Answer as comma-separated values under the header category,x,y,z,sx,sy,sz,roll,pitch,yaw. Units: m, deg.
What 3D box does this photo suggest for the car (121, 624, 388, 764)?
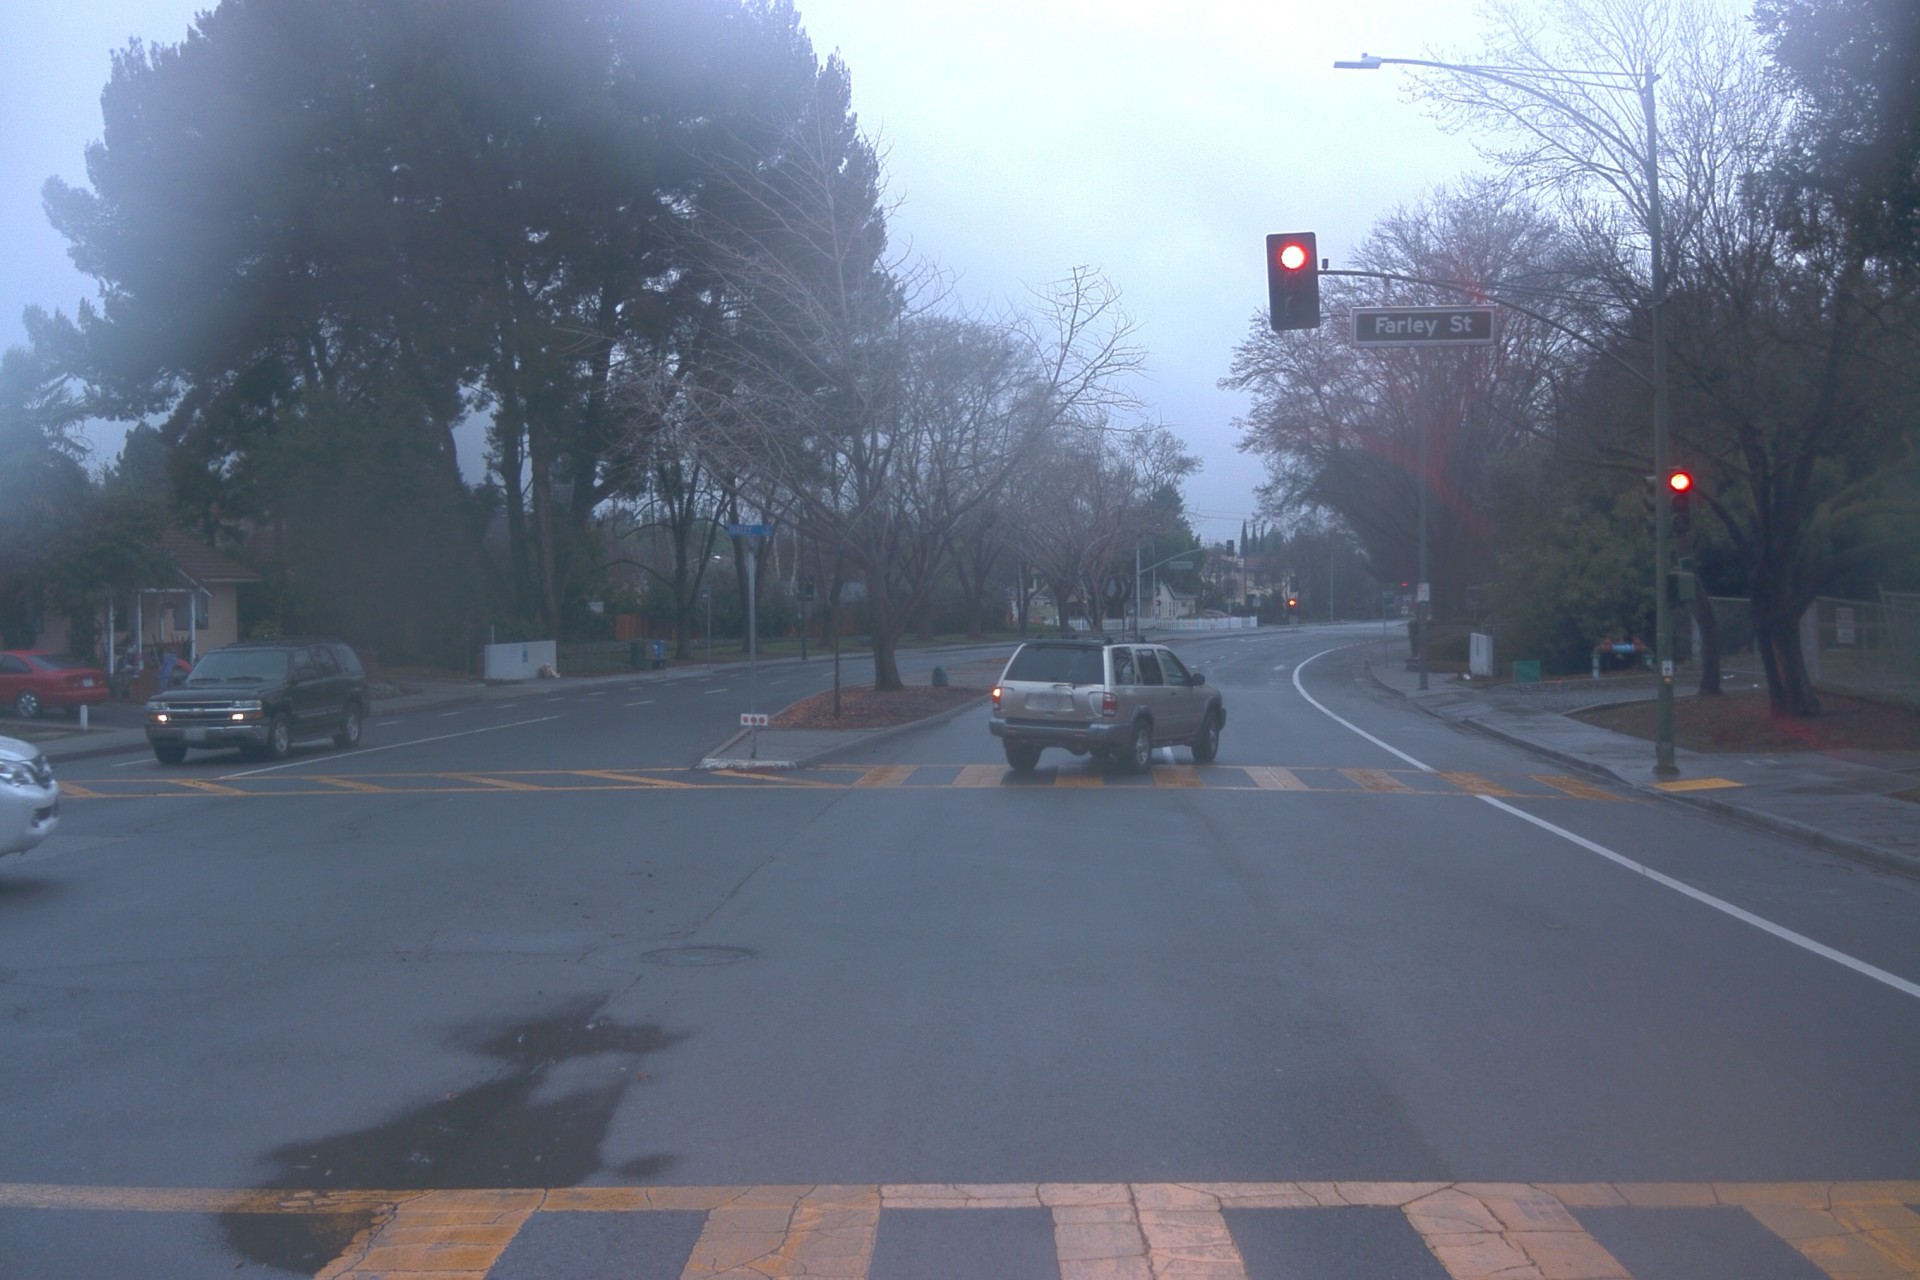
category,x,y,z,sx,sy,sz,roll,pitch,yaw
car,-11.163,0.793,33.374,2.290,2.060,5.042,0,0,4

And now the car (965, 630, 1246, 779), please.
category,x,y,z,sx,sy,sz,roll,pitch,yaw
car,2.065,0.774,27.880,2.091,1.810,4.763,0,0,27
